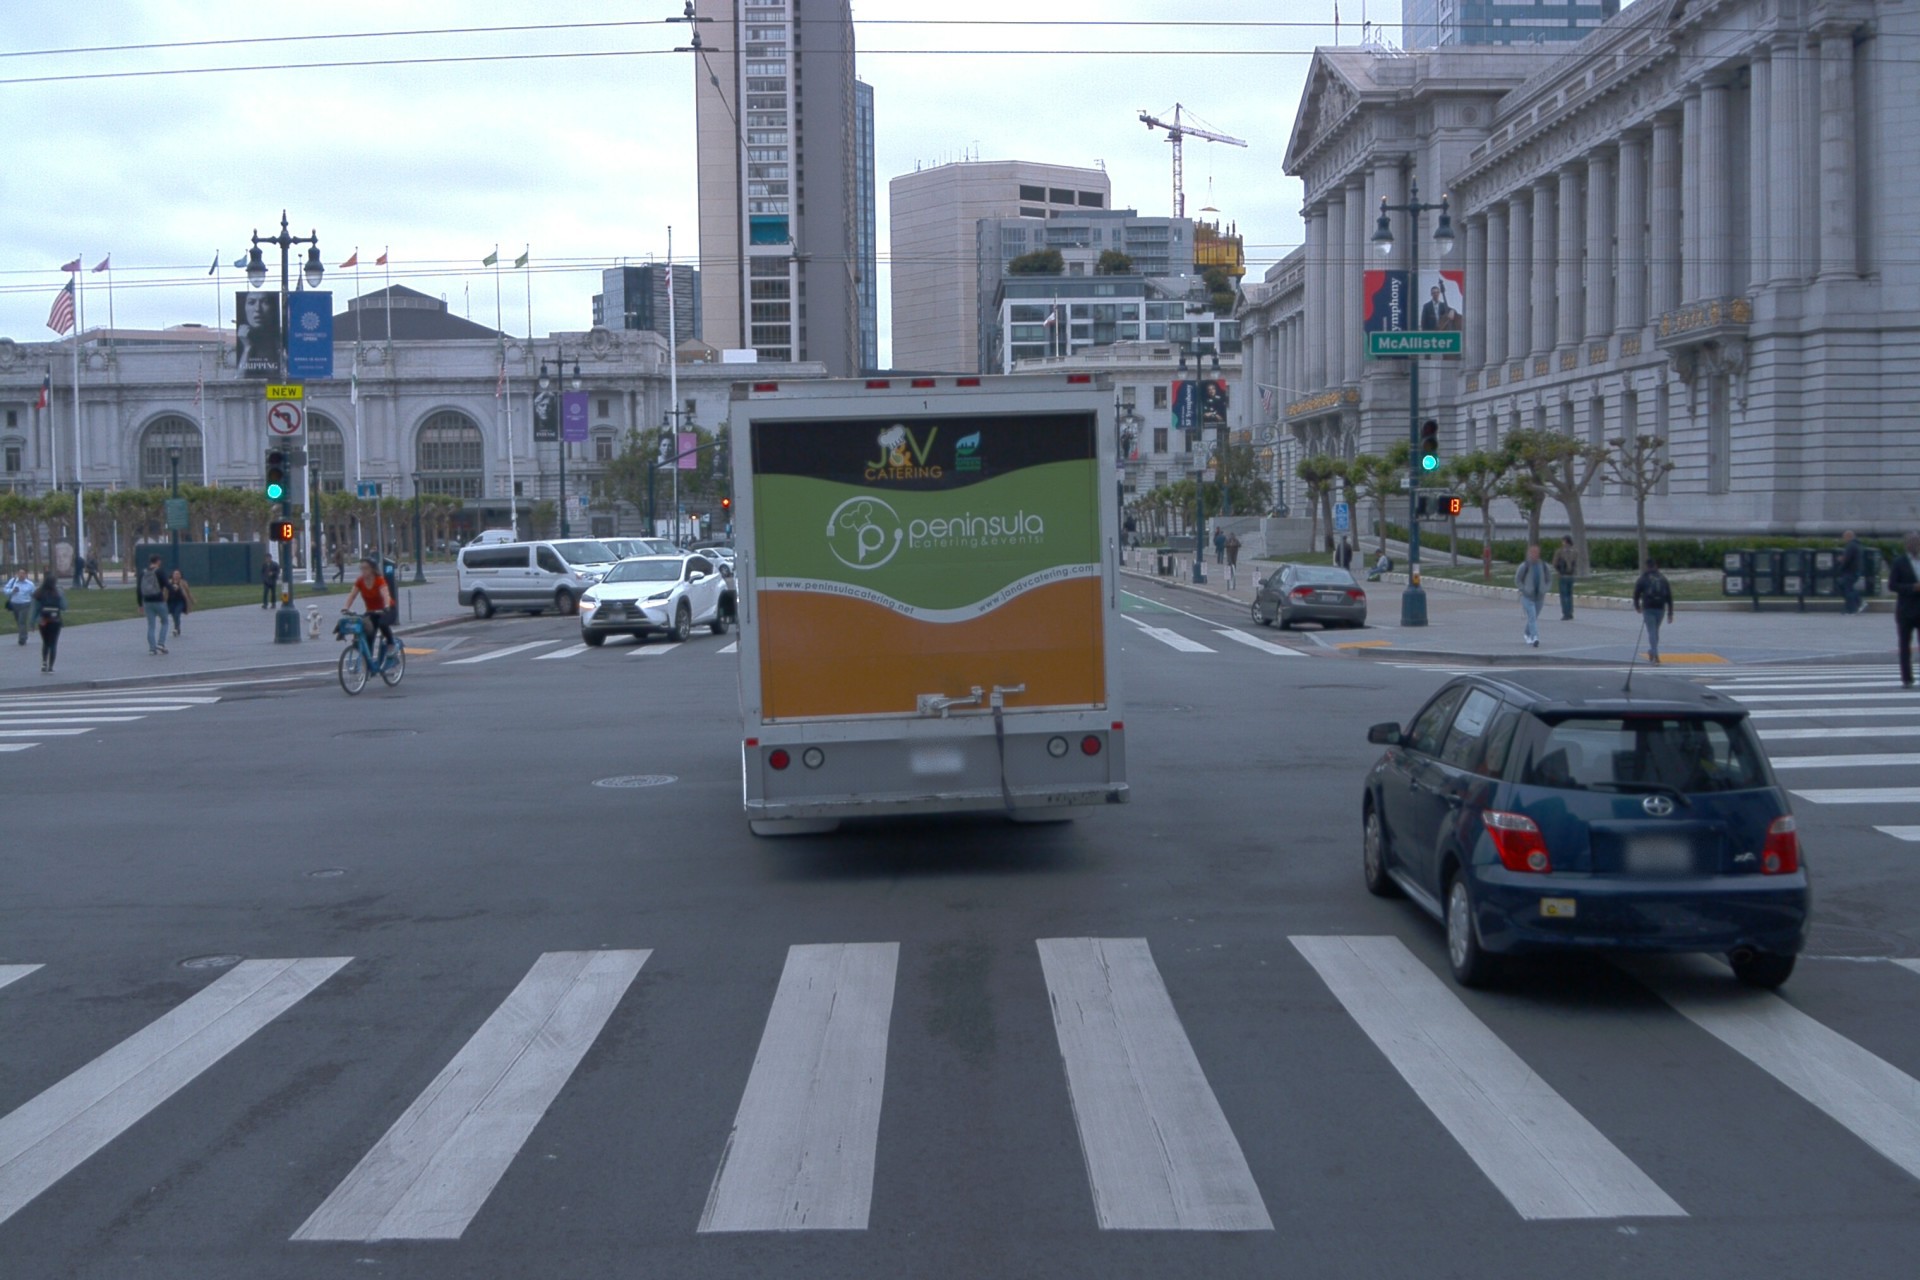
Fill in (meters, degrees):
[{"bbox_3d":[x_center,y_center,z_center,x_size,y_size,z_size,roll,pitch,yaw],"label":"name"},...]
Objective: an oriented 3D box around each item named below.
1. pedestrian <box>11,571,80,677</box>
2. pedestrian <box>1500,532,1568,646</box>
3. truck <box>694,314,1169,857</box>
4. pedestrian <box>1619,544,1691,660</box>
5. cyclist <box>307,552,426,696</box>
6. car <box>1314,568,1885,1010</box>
[{"bbox_3d":[-15.231,-0.268,34.272,0.792,1.734,0.967,0,1,-7],"label":"pedestrian"},{"bbox_3d":[9.522,-0.839,34.140,0.811,1.850,1.153,0,1,0],"label":"pedestrian"},{"bbox_3d":[-0.567,-0.397,16.269,2.915,3.300,7.291,0,1,-6],"label":"truck"},{"bbox_3d":[10.710,-0.579,31.709,0.832,1.760,0.933,0,1,4],"label":"pedestrian"},{"bbox_3d":[-7.890,-0.217,27.447,0.829,1.850,1.924,0,1,7],"label":"cyclist"},{"bbox_3d":[3.222,0.642,11.278,1.935,1.990,4.031,0,1,1],"label":"car"}]
